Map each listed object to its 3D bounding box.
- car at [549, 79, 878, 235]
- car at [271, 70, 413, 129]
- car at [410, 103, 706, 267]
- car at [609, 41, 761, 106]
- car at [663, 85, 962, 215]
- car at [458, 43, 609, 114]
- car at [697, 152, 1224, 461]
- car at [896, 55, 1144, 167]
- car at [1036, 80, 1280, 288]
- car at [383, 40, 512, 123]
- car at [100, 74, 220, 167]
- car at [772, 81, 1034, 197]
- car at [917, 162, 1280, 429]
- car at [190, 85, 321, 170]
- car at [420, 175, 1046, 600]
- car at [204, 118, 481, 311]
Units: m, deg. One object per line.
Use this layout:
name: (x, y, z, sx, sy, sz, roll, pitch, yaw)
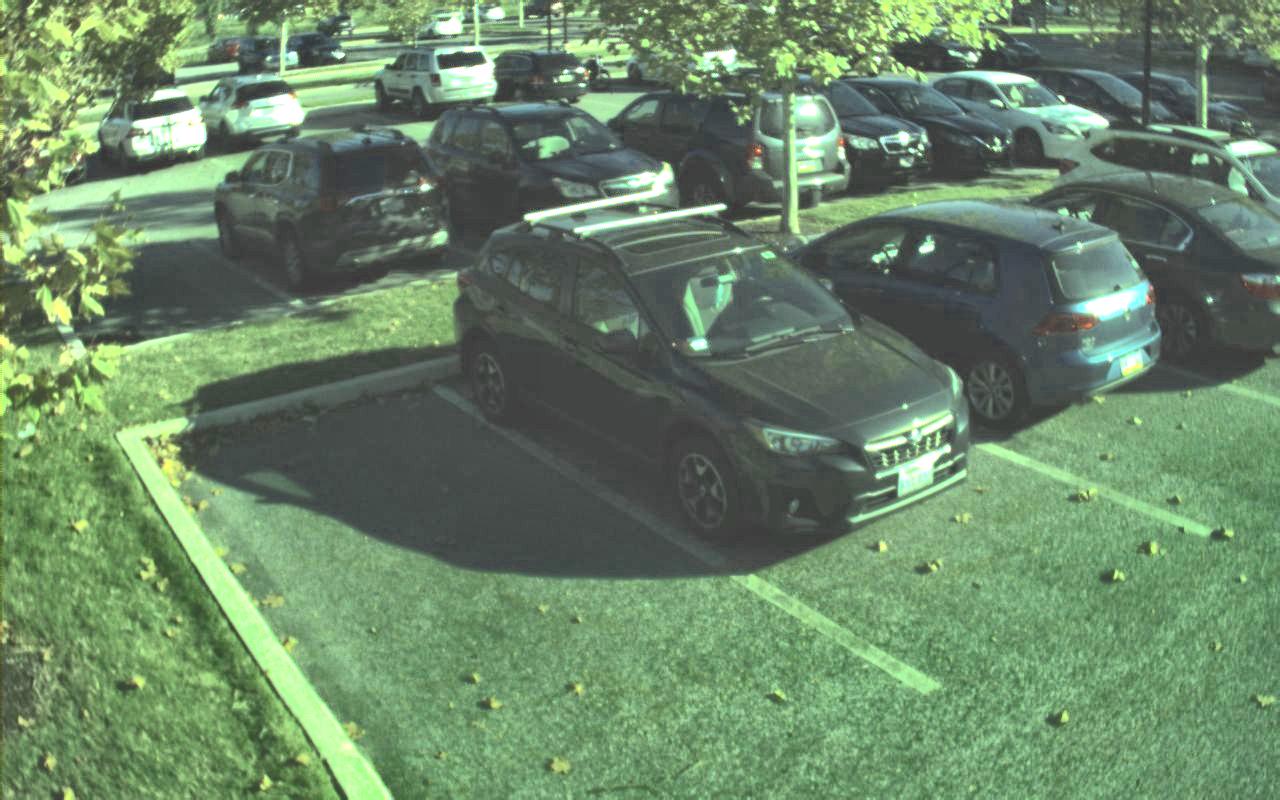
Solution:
car: (0.898, -3.539, 17.462, 2.019, 1.707, 4.704, -13, 21, -36)
car: (-10.326, -10.350, 41.664, 4.579, 1.632, 1.985, -11, 19, -30)
car: (-1.251, -2.973, 16.430, 1.951, 1.601, 4.508, -11, 19, -31)
car: (1.237, -9.508, 35.831, 2.020, 1.719, 4.679, -12, 20, -32)
car: (2.661, -4.043, 19.547, 4.487, 1.633, 1.974, 15, 23, 43)
car: (-2.892, -8.476, 32.369, 1.990, 1.670, 4.544, -12, 20, -32)
car: (2.562, -1.001, 10.243, 1.906, 1.634, 4.238, -13, 20, -36)
car: (7.060, -5.479, 22.400, 2.013, 1.706, 4.667, -10, 19, -29)
car: (6.984, -2.683, 13.439, 2.020, 1.759, 4.613, -11, 19, -31)
car: (-5.045, -8.202, 31.400, 2.058, 1.897, 4.716, -8, 18, -24)
car: (-11.344, -6.536, 27.017, 2.041, 1.822, 4.675, -11, 19, -31)
car: (4.474, -4.584, 21.151, 1.947, 1.576, 4.418, -13, 20, -35)
car: (4.884, -1.204, 11.423, 1.963, 1.586, 4.551, -10, 19, -29)
car: (-9.380, -6.607, 28.656, 2.003, 1.716, 4.559, -12, 20, -32)
car: (0.379, -0.432, 8.784, 1.975, 1.711, 4.521, -12, 20, -33)
car: (-3.971, -2.512, 15.425, 2.023, 1.756, 4.683, -12, 20, -32)
